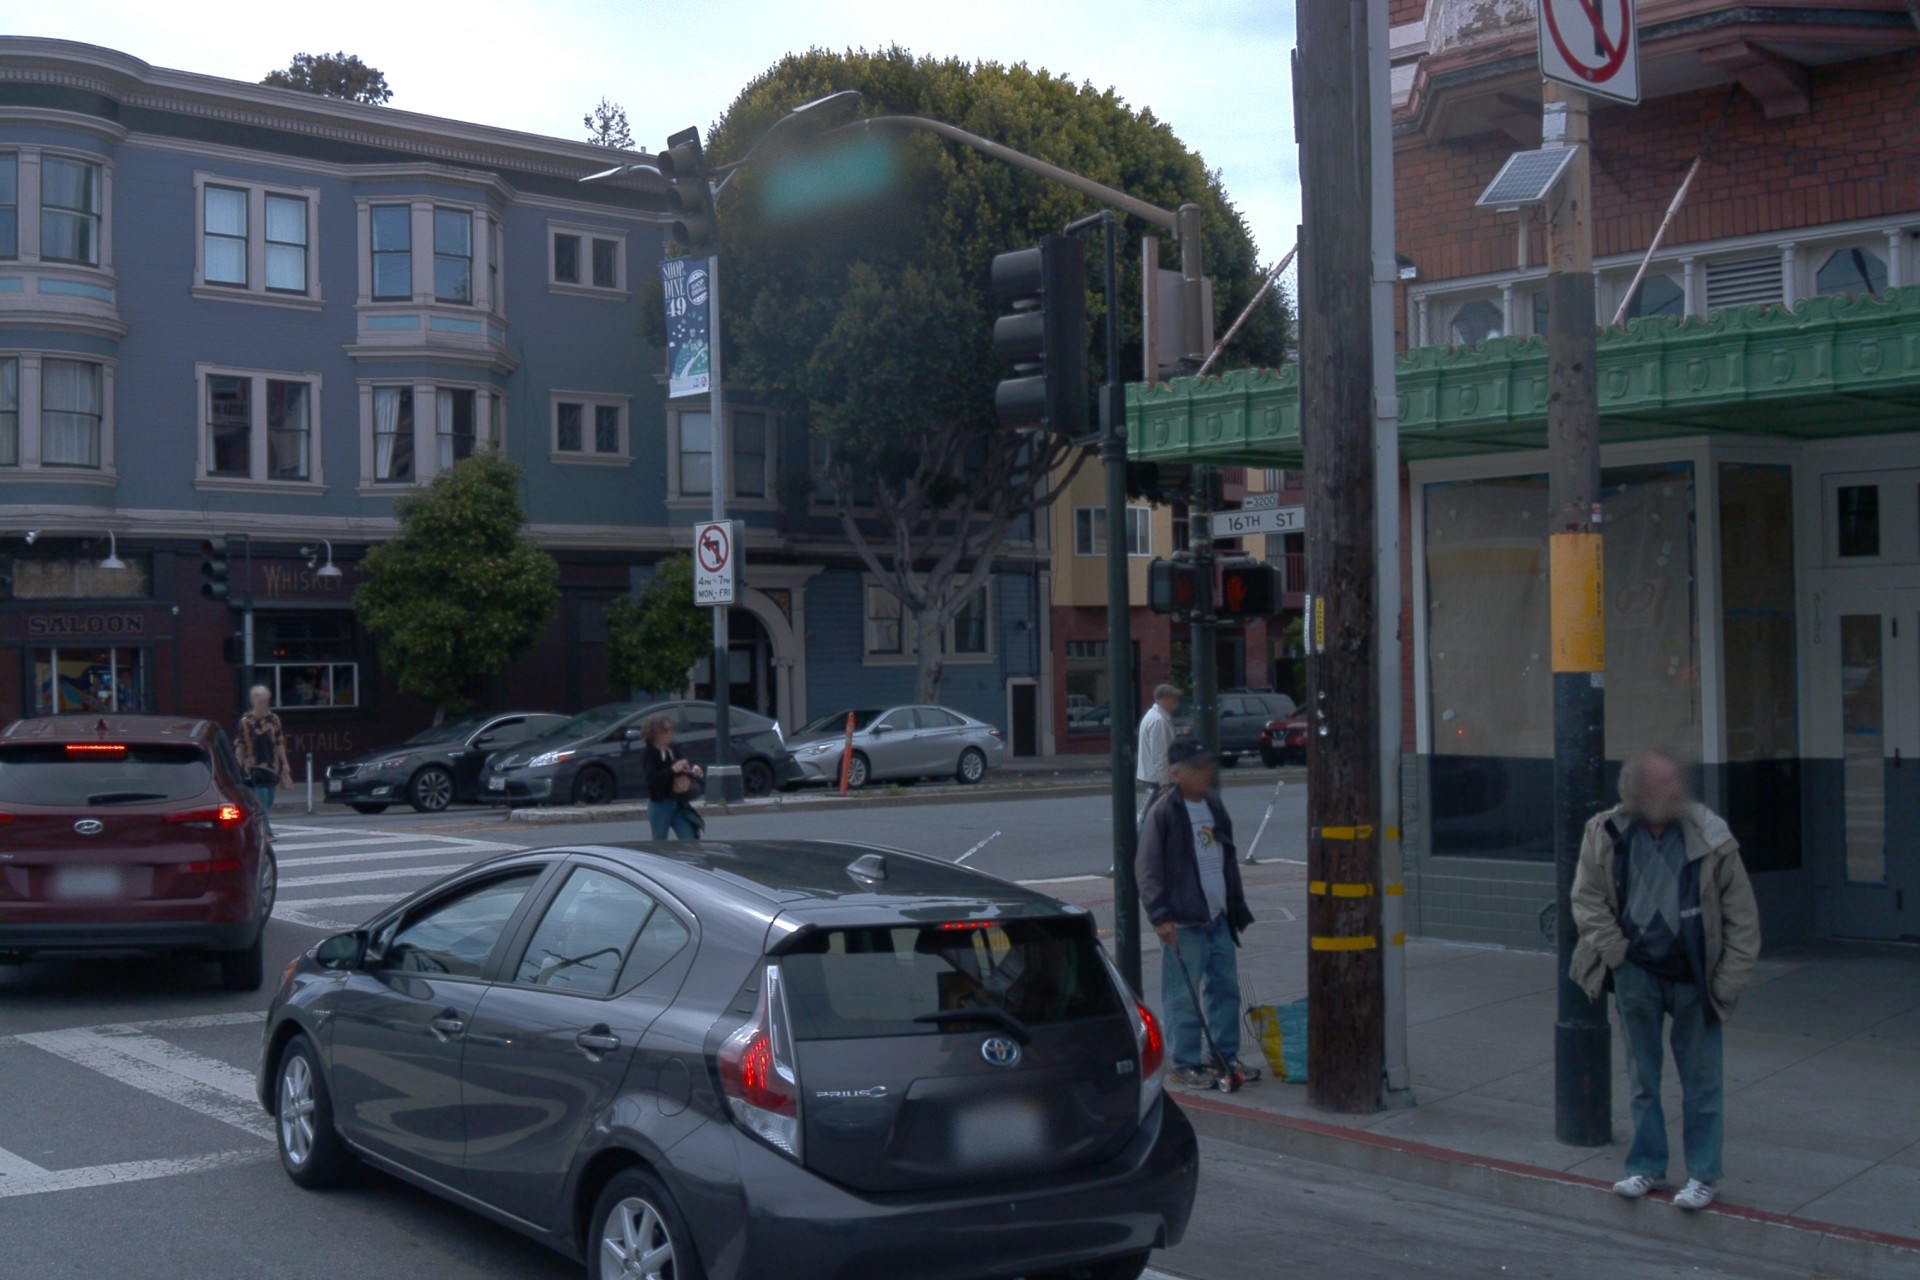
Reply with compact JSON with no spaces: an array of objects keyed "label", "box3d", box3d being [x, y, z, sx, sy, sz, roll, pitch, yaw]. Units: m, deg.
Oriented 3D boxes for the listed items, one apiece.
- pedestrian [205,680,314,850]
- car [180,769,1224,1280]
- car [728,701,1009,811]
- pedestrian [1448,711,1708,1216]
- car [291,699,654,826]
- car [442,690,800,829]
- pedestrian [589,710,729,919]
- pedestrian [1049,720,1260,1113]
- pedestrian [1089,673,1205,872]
[{"label":"pedestrian","box3d":[-7.630,1.332,22.489,0.786,1.761,1.057,-1,1,-40]},{"label":"car","box3d":[-1.171,1.411,7.469,1.949,1.580,3.977,-1,1,-38]},{"label":"car","box3d":[-1.538,1.958,36.072,4.637,1.610,2.188,-1,1,-45]},{"label":"pedestrian","box3d":[2.431,1.212,8.111,0.870,1.820,0.661,0,1,27]},{"label":"car","box3d":[-7.020,1.711,30.091,2.143,1.500,4.732,1,1,45]},{"label":"car","box3d":[-4.565,1.561,28.298,2.051,1.590,4.479,1,1,45]},{"label":"pedestrian","box3d":[-2.485,1.413,17.065,0.847,1.620,0.766,0,1,39]},{"label":"pedestrian","box3d":[0.931,1.274,9.880,0.765,1.740,0.663,-1,1,-44]},{"label":"pedestrian","box3d":[1.817,1.267,20.207,1.088,1.870,1.022,0,1,3]}]
